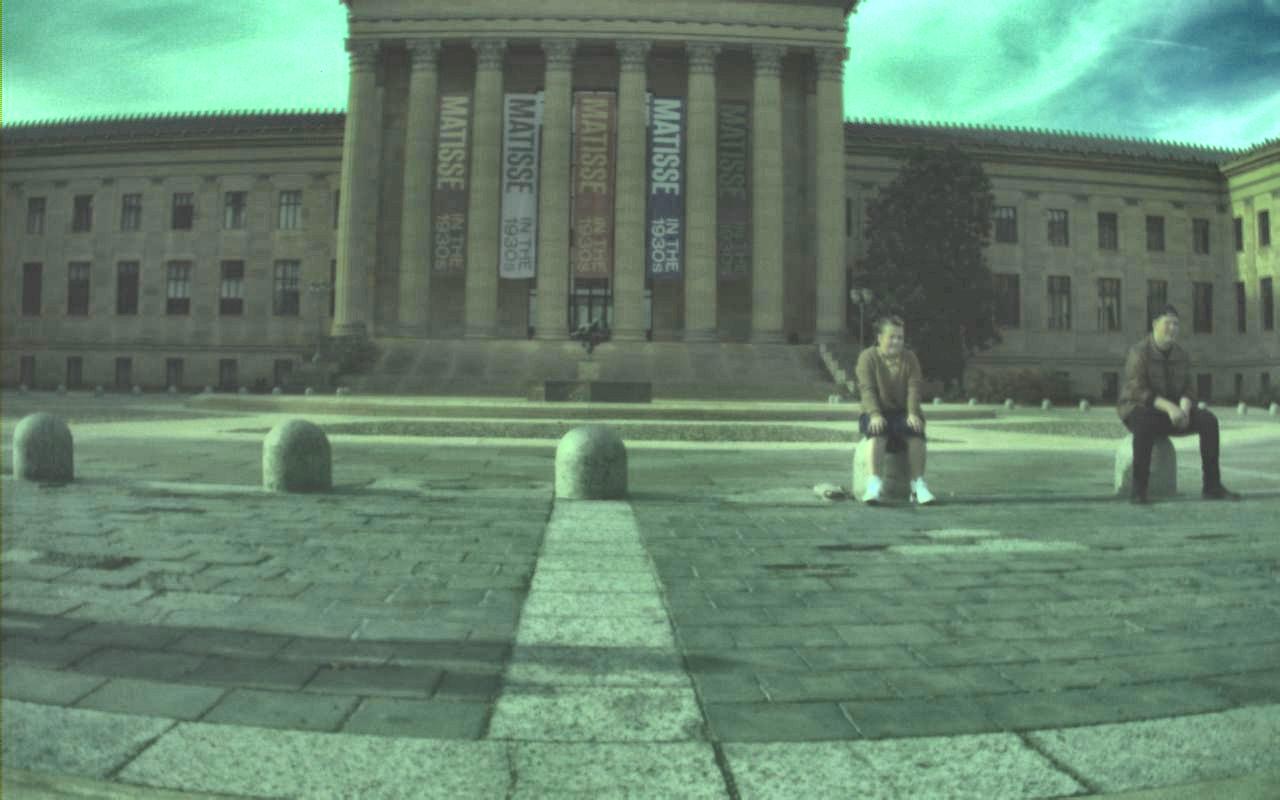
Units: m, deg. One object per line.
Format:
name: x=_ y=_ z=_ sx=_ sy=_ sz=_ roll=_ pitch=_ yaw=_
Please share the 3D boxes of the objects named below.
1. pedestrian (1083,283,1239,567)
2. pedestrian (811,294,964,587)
pedestrian: x=3.492 y=0.170 z=7.867 sx=0.841 sy=1.803 sz=0.844 roll=0 pitch=0 yaw=3
pedestrian: x=1.559 y=0.245 z=7.911 sx=0.824 sy=1.772 sz=0.819 roll=0 pitch=0 yaw=0
